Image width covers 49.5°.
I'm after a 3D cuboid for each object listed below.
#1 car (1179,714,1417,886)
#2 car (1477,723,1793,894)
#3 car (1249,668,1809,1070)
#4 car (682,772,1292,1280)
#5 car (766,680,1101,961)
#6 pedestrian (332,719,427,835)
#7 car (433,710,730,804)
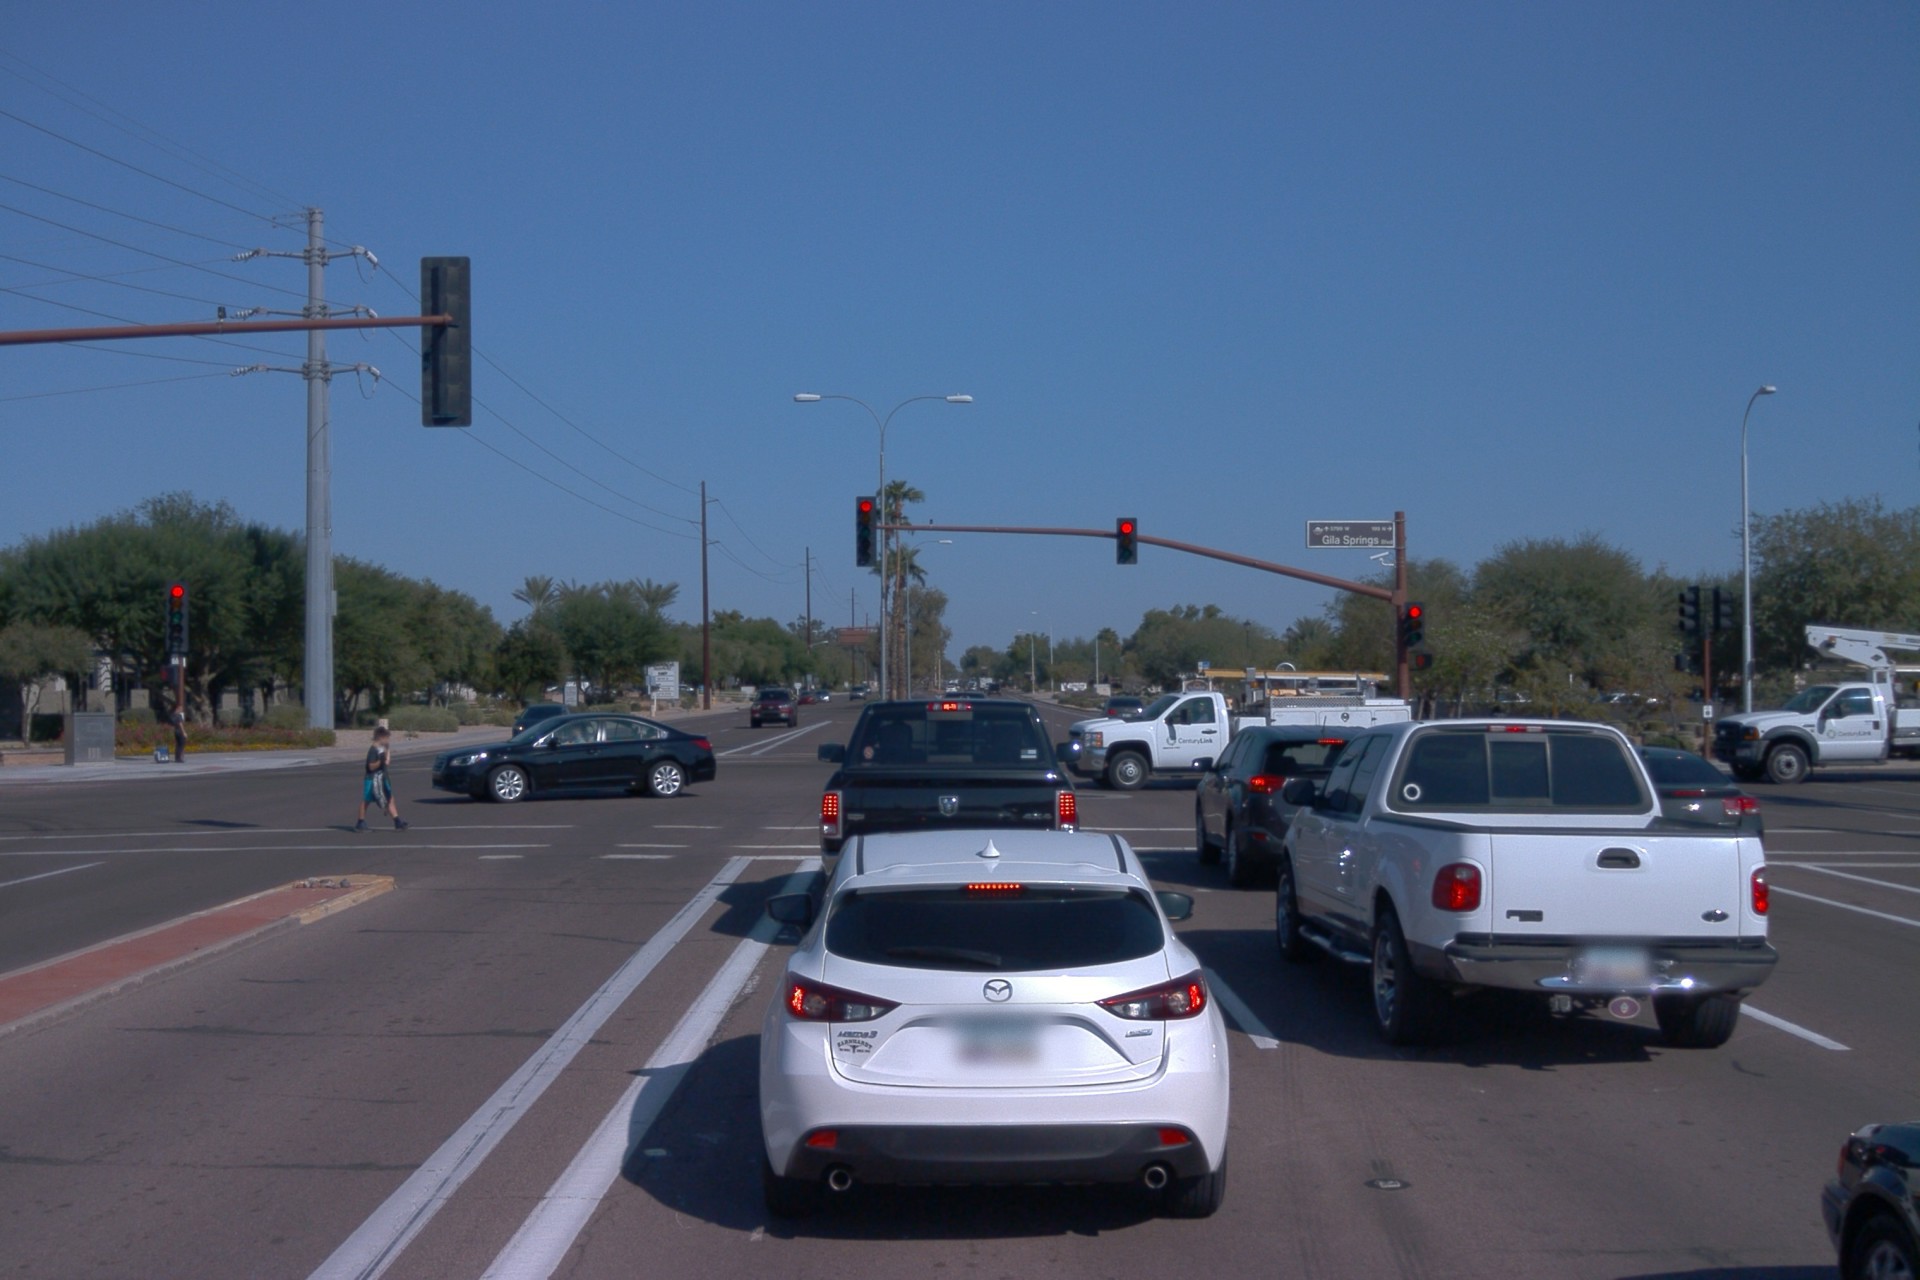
[{"bbox_3d":[3.493,1.623,22.274,1.789,1.630,4.213,0,-1,-1],"label":"car"},{"bbox_3d":[6.833,1.657,21.601,1.828,1.540,4.447,0,-1,0],"label":"car"},{"bbox_3d":[3.319,1.253,13.501,2.073,2.070,5.518,0,-1,0],"label":"car"},{"bbox_3d":[0.098,1.489,9.498,2.099,1.600,4.628,0,-1,0],"label":"car"},{"bbox_3d":[-0.122,1.408,18.008,2.500,2.080,5.001,0,-1,2],"label":"car"},{"bbox_3d":[-7.817,1.838,28.057,1.087,1.530,0.743,0,-1,-2],"label":"pedestrian"},{"bbox_3d":[-6.549,1.980,36.075,4.715,1.530,1.934,1,-2,-25],"label":"car"}]
